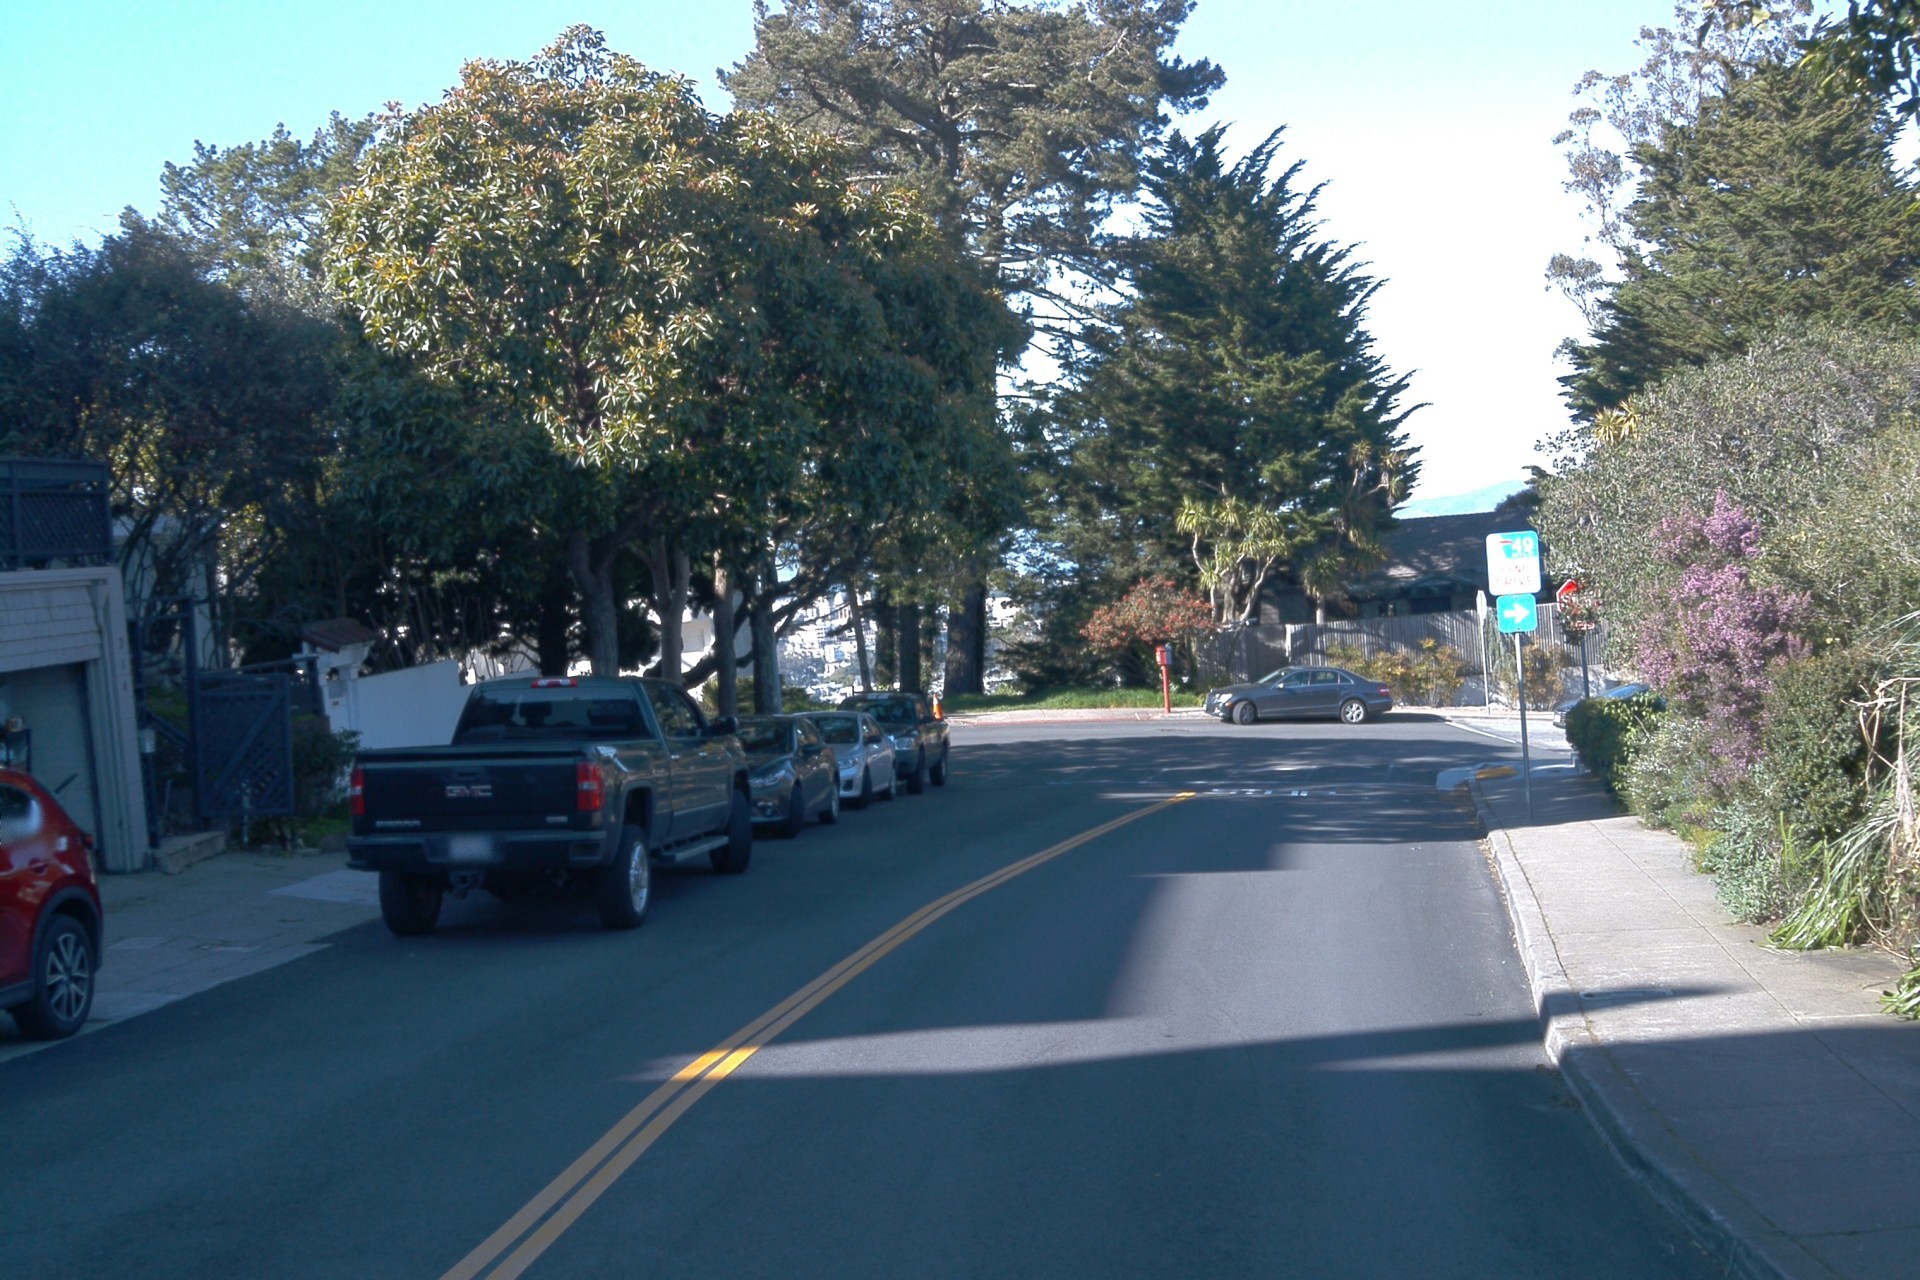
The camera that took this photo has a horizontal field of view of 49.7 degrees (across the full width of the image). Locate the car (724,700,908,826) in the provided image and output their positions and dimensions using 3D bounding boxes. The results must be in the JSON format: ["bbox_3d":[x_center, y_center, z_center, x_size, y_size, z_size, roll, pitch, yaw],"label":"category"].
[{"bbox_3d":[-2.107,1.807,31.715,2.043,1.670,4.528,0,0,6],"label":"car"}]

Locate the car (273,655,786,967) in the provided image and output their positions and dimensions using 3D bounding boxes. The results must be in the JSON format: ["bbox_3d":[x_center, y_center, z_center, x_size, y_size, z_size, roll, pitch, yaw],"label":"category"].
[{"bbox_3d":[-3.360,1.242,17.906,2.649,2.200,6.101,0,0,6],"label":"car"}]

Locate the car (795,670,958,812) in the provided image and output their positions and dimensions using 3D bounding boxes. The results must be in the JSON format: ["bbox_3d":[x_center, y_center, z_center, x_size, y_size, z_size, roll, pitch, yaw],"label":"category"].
[{"bbox_3d":[-1.387,1.709,37.021,2.124,2.280,5.581,0,0,6],"label":"car"}]

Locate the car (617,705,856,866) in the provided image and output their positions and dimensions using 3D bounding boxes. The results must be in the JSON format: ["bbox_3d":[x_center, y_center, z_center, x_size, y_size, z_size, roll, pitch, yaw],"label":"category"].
[{"bbox_3d":[-2.634,1.702,25.532,2.083,1.680,4.437,0,0,6],"label":"car"}]
